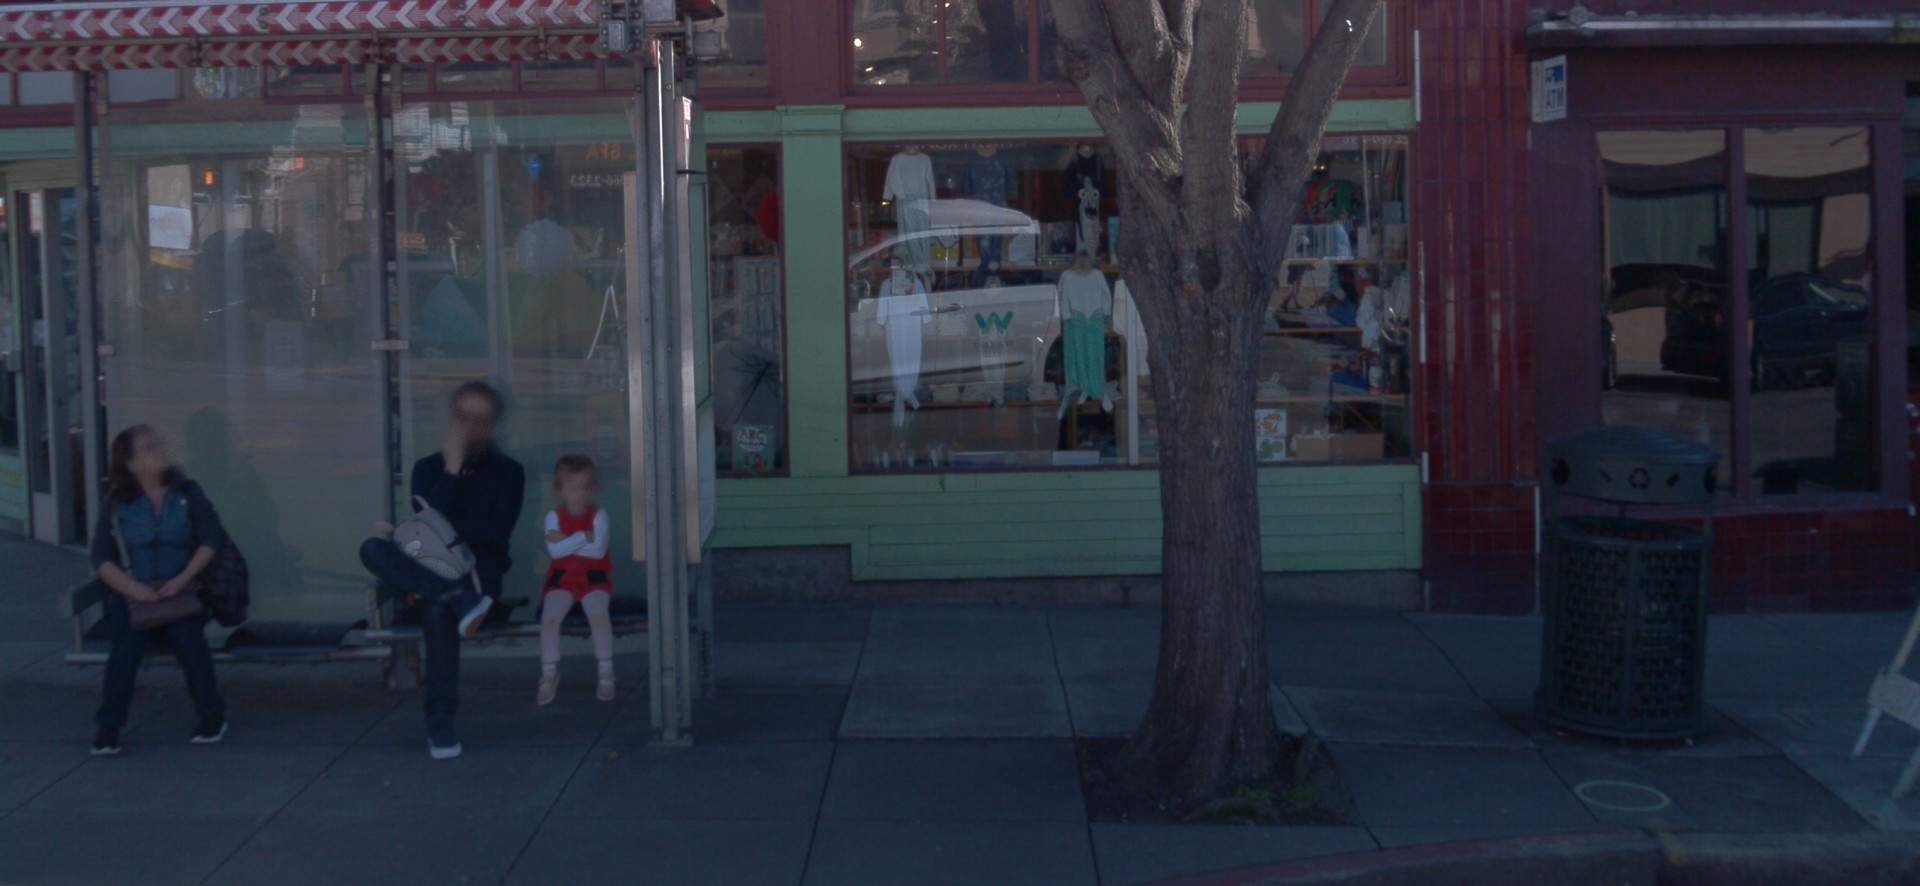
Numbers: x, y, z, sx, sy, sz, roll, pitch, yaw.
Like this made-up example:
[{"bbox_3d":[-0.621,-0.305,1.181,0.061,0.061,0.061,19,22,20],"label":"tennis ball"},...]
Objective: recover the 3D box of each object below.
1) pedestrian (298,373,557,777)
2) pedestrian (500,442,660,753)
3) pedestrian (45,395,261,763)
[{"bbox_3d":[-2.032,0.466,7.999,0.753,1.398,0.926,0,2,0],"label":"pedestrian"},{"bbox_3d":[-1.462,0.578,8.021,0.528,1.098,0.572,0,2,-3],"label":"pedestrian"},{"bbox_3d":[-3.126,0.488,8.060,0.737,1.258,0.794,-1,2,-19],"label":"pedestrian"}]
